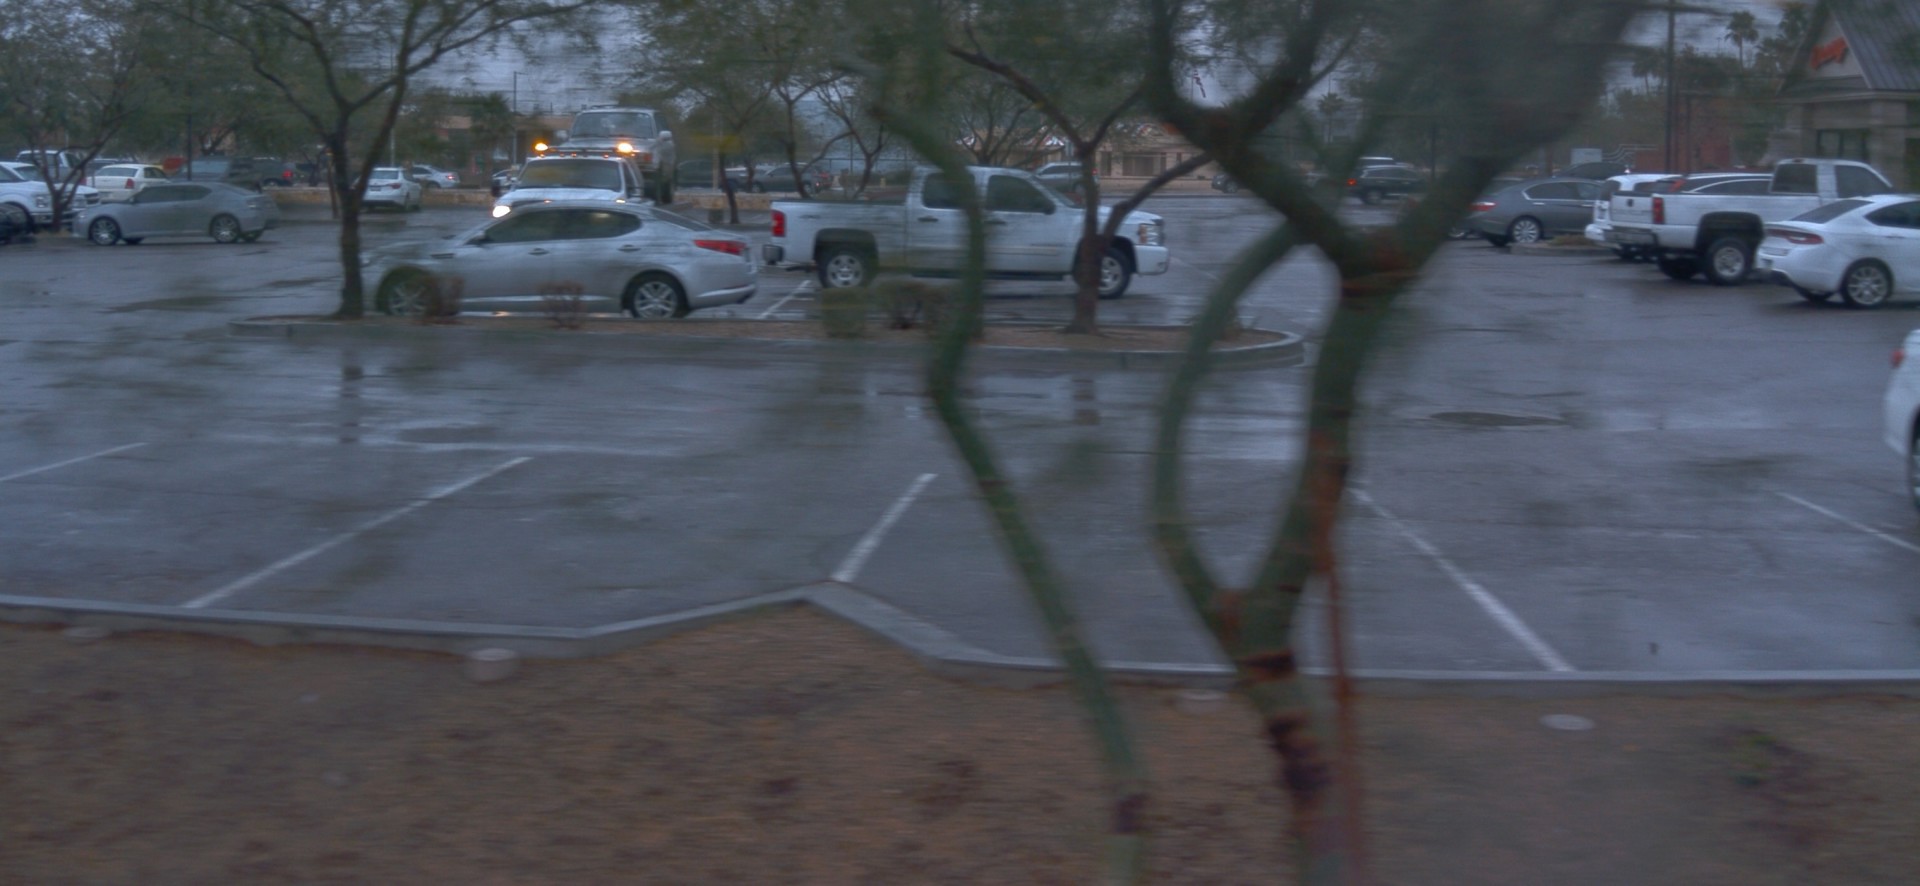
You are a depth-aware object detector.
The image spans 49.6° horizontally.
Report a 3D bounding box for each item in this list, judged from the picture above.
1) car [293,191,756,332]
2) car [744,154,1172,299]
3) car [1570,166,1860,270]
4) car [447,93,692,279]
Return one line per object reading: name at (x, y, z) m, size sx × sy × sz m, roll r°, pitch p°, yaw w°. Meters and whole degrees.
car at (-4.967, -2.141, 24.331) m, size 4.942 × 1.536 × 2.209 m, roll 0°, pitch 4°, yaw -1°
car at (-0.017, -3.103, 29.843) m, size 5.900 × 1.946 × 2.280 m, roll 0°, pitch 3°, yaw 0°
car at (13.695, -4.089, 37.886) m, size 4.569 × 1.817 × 1.973 m, roll 0°, pitch 3°, yaw 0°
car at (-6.581, -4.403, 36.434) m, size 2.854 × 2.828 × 8.829 m, roll 0°, pitch 5°, yaw -2°
